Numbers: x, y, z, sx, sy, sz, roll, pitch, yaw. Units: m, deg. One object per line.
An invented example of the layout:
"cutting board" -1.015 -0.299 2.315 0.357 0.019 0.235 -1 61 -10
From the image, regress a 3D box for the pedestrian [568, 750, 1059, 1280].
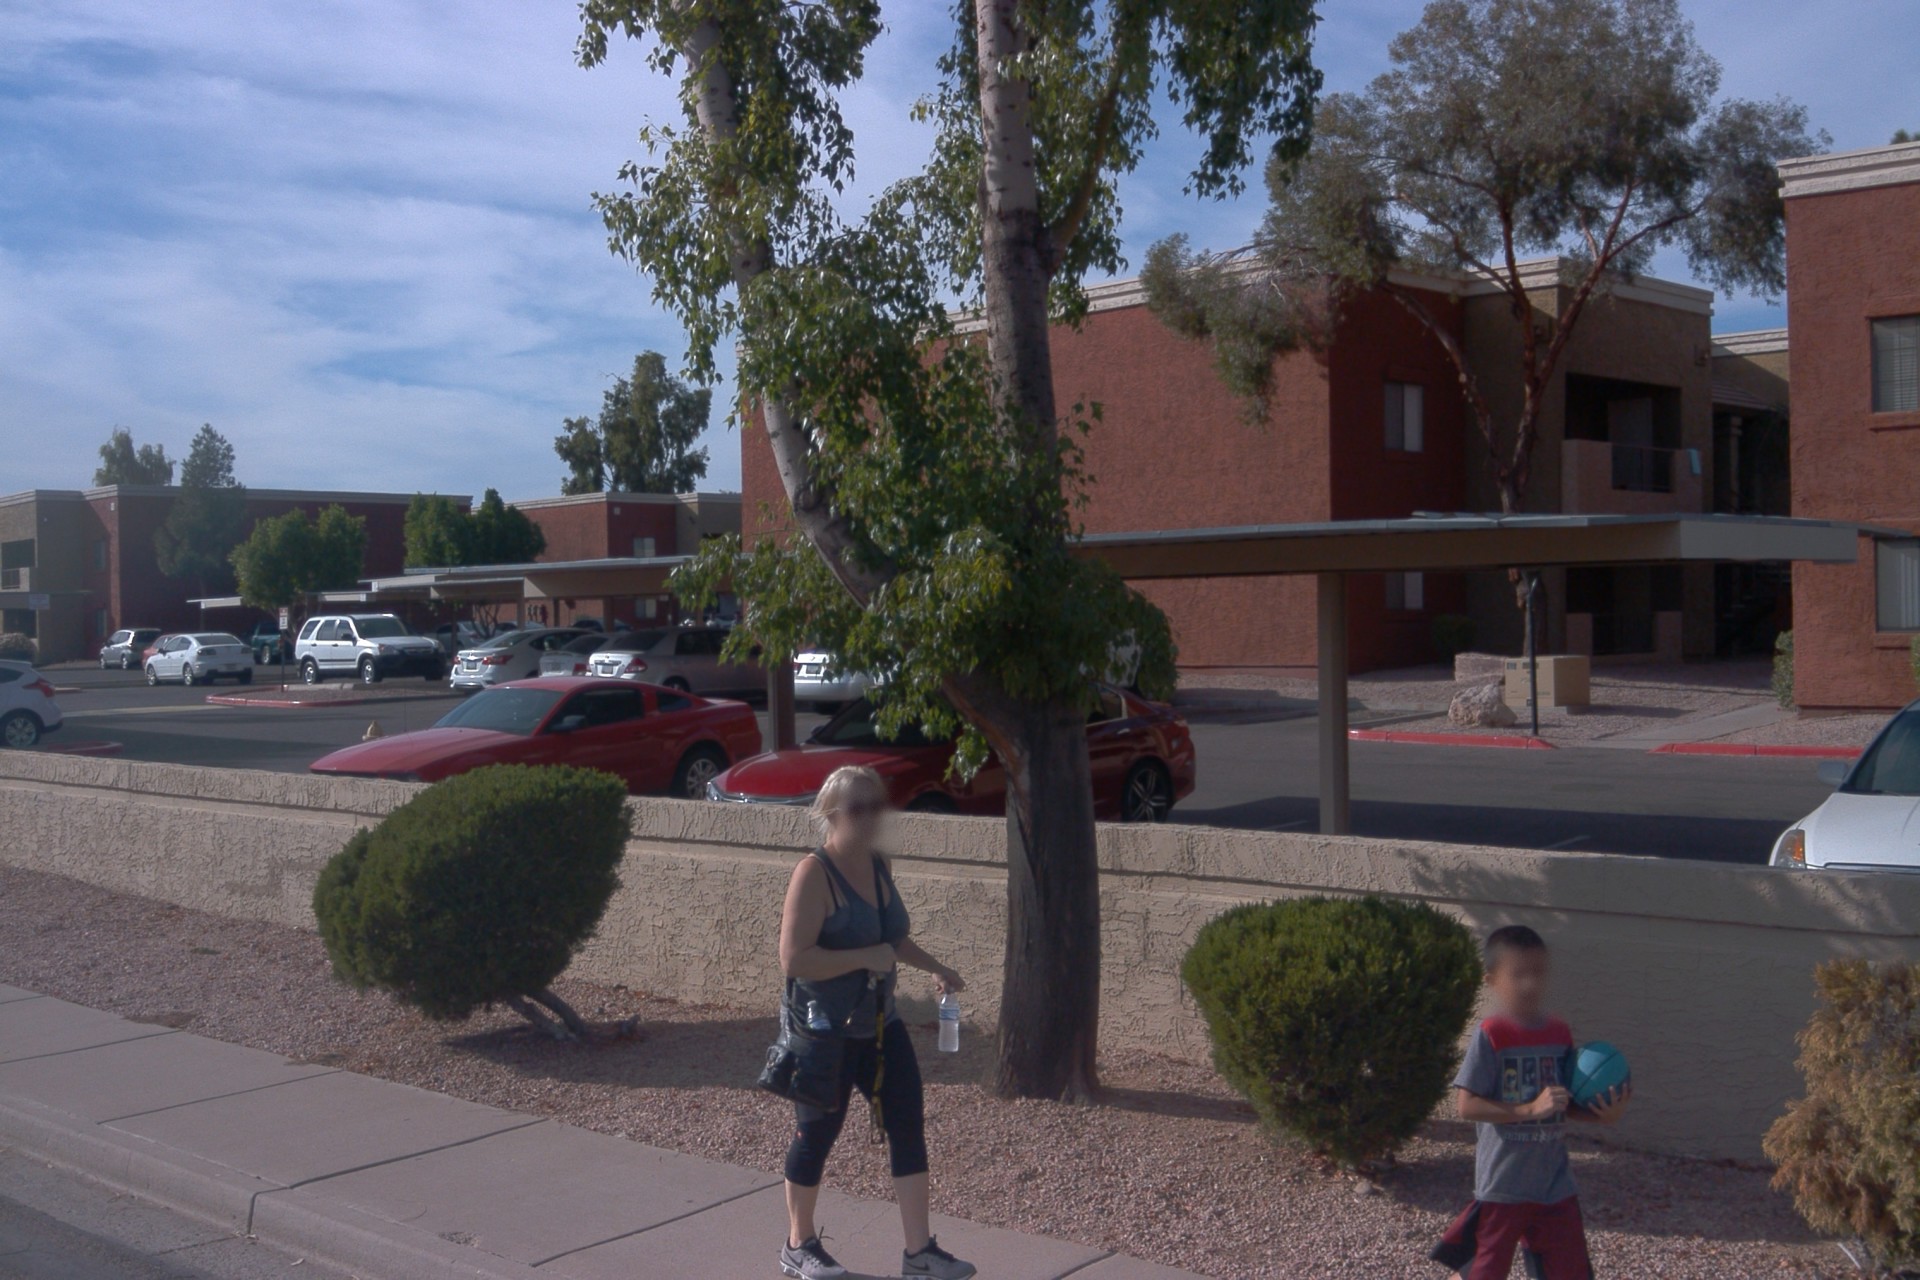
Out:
"pedestrian" -0.452 1.200 6.446 1.116 1.660 1.018 0 -1 42

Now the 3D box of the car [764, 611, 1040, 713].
"car" -0.905 0.385 34.703 4.416 1.580 2.013 1 -1 -45

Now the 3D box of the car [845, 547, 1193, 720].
"car" 1.041 -0.044 33.073 2.359 2.520 5.665 0 -1 43

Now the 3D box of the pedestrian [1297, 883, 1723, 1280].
"pedestrian" 1.429 1.353 5.395 0.780 1.330 0.798 0 -1 43

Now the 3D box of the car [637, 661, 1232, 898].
"car" -0.028 0.988 16.618 2.107 1.600 4.864 0 -1 39

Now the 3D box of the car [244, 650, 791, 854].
"car" -4.071 0.977 19.849 2.199 1.700 4.752 0 -1 40

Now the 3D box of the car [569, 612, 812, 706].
"car" -4.907 0.369 38.200 4.148 1.630 1.833 1 -1 -45
